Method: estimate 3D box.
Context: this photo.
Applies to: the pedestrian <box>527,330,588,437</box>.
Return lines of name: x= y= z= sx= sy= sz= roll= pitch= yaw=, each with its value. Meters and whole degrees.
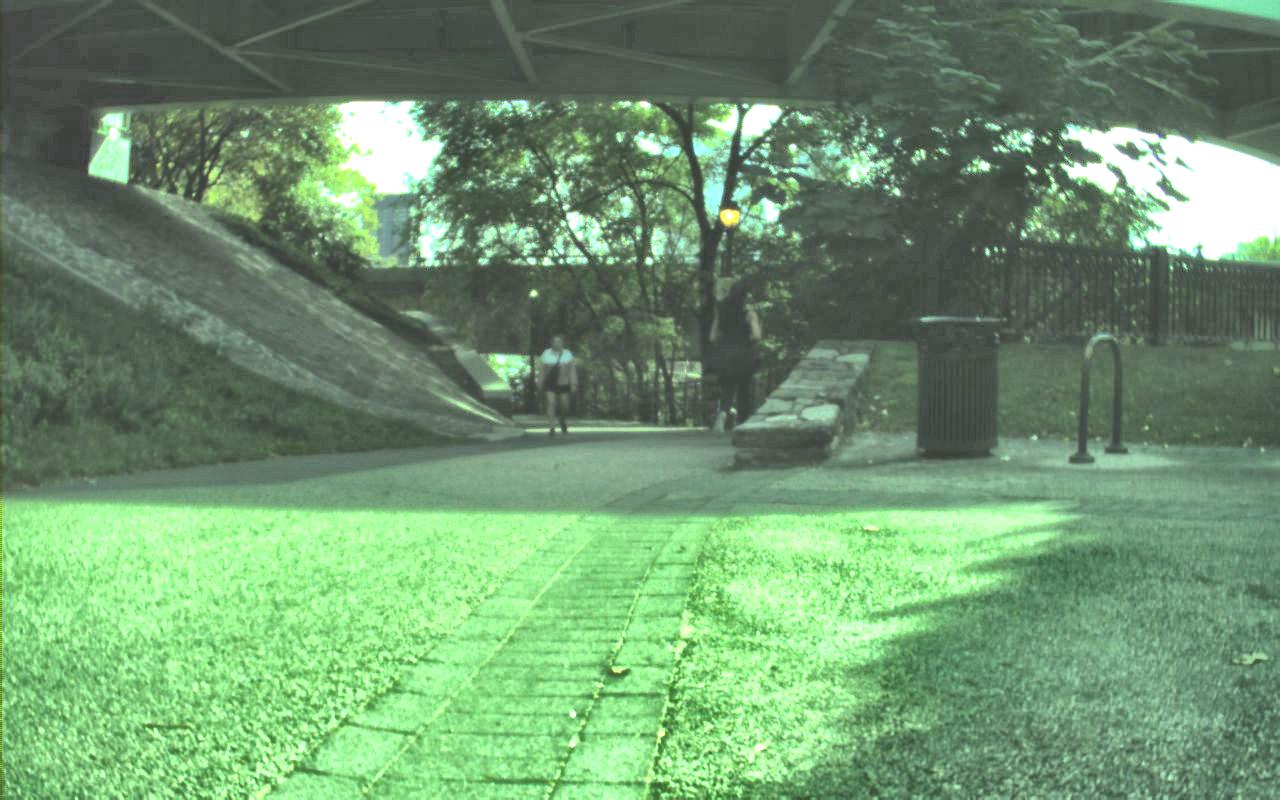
pedestrian: x=-1.270 y=-0.264 z=19.556 sx=0.847 sy=1.619 sz=0.888 roll=0 pitch=0 yaw=2

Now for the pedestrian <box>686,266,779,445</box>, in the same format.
pedestrian: x=0.916 y=-0.428 z=12.251 sx=0.811 sy=1.667 sz=0.901 roll=0 pitch=0 yaw=9
